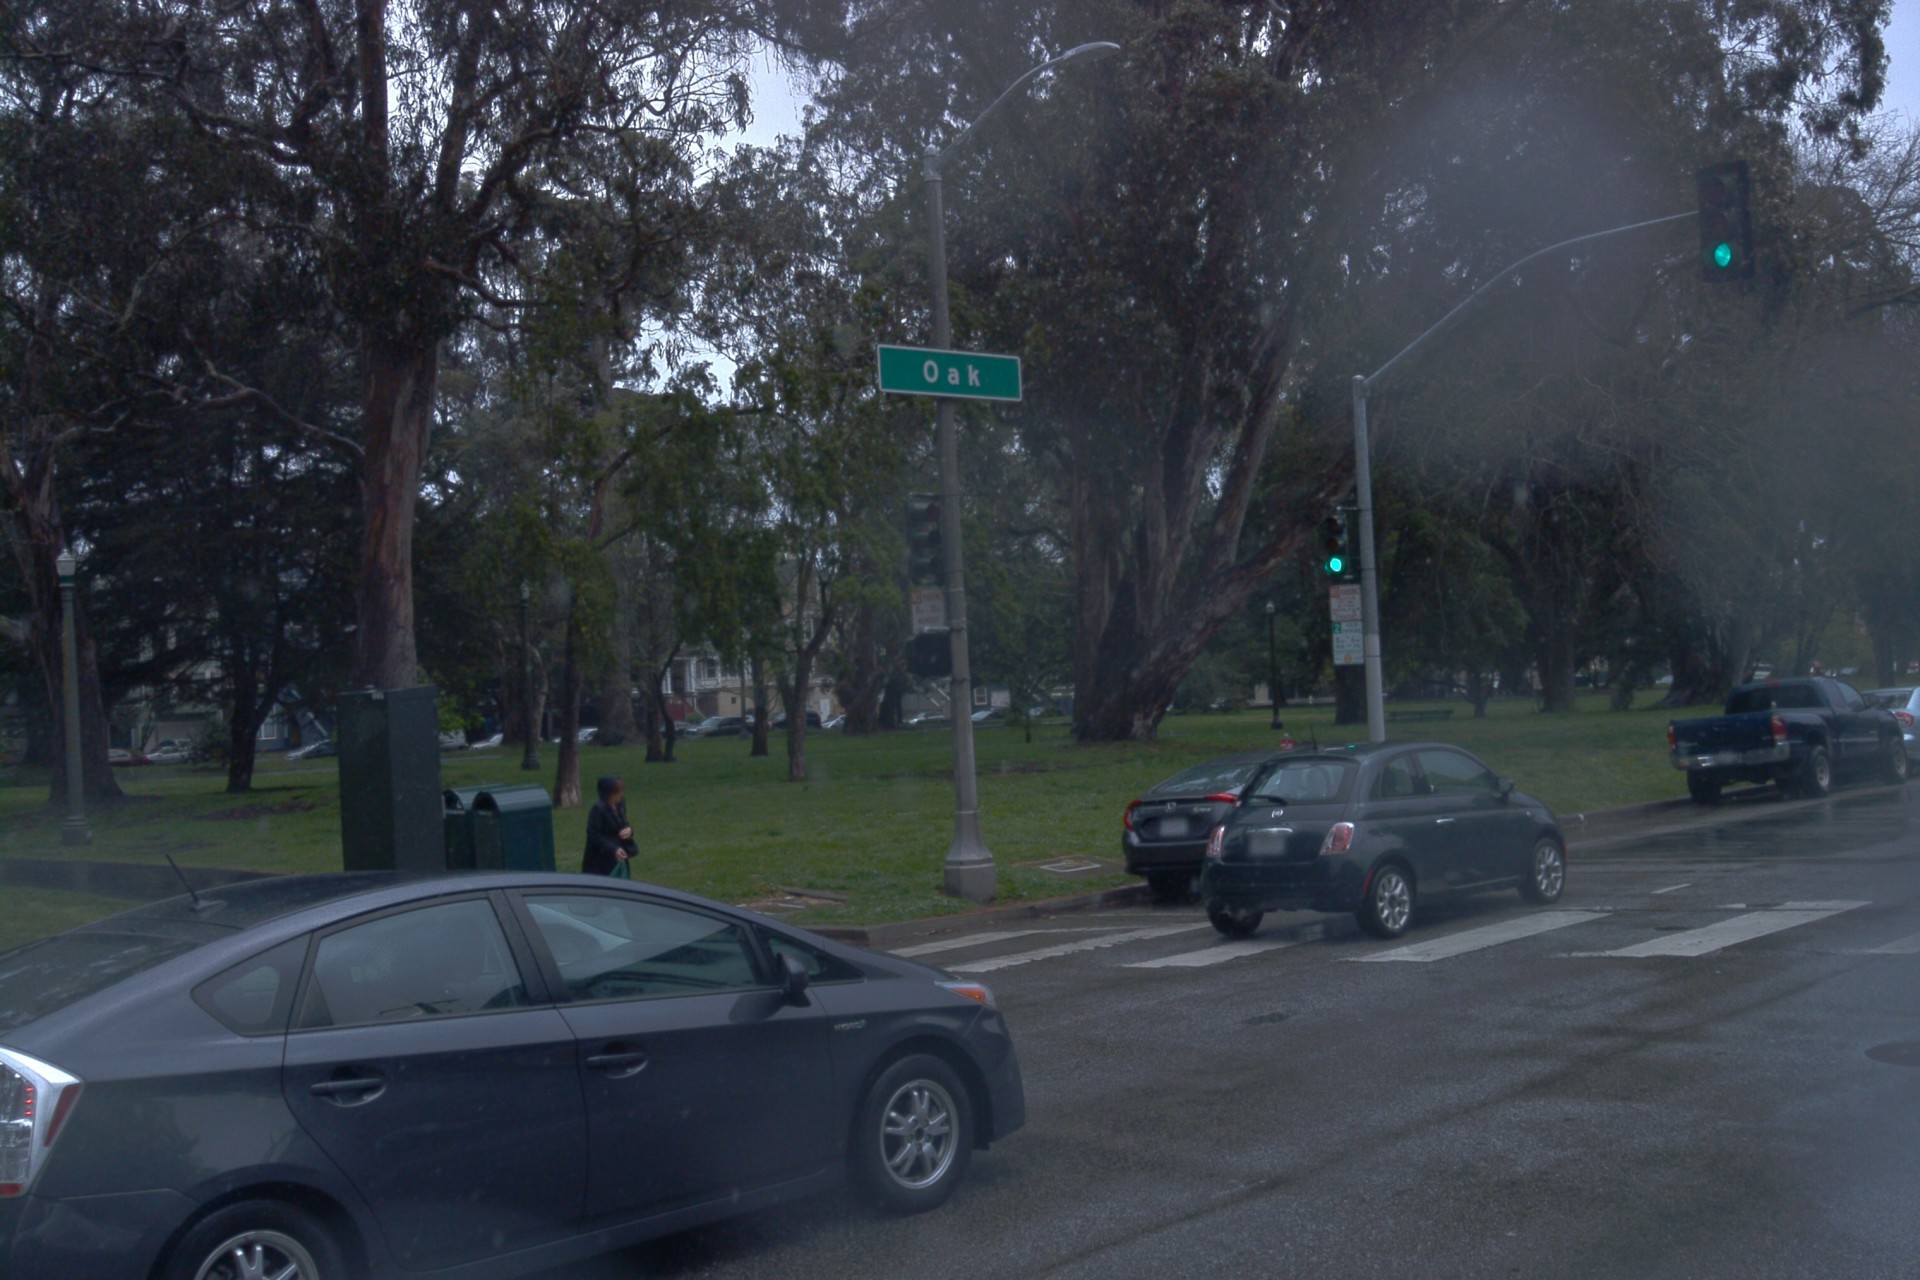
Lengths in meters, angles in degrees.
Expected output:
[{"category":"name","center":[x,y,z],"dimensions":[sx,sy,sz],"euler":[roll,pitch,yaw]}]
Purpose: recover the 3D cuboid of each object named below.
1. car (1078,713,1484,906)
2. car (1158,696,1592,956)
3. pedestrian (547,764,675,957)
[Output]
[{"category":"car","center":[3.461,1.661,21.468],"dimensions":[2.031,1.540,4.554],"euler":[1,2,42]},{"category":"car","center":[3.461,1.402,16.792],"dimensions":[3.581,1.715,1.794],"euler":[-1,2,-45]},{"category":"pedestrian","center":[-3.066,1.914,18.041],"dimensions":[0.722,1.560,0.835],"euler":[1,2,35]}]
